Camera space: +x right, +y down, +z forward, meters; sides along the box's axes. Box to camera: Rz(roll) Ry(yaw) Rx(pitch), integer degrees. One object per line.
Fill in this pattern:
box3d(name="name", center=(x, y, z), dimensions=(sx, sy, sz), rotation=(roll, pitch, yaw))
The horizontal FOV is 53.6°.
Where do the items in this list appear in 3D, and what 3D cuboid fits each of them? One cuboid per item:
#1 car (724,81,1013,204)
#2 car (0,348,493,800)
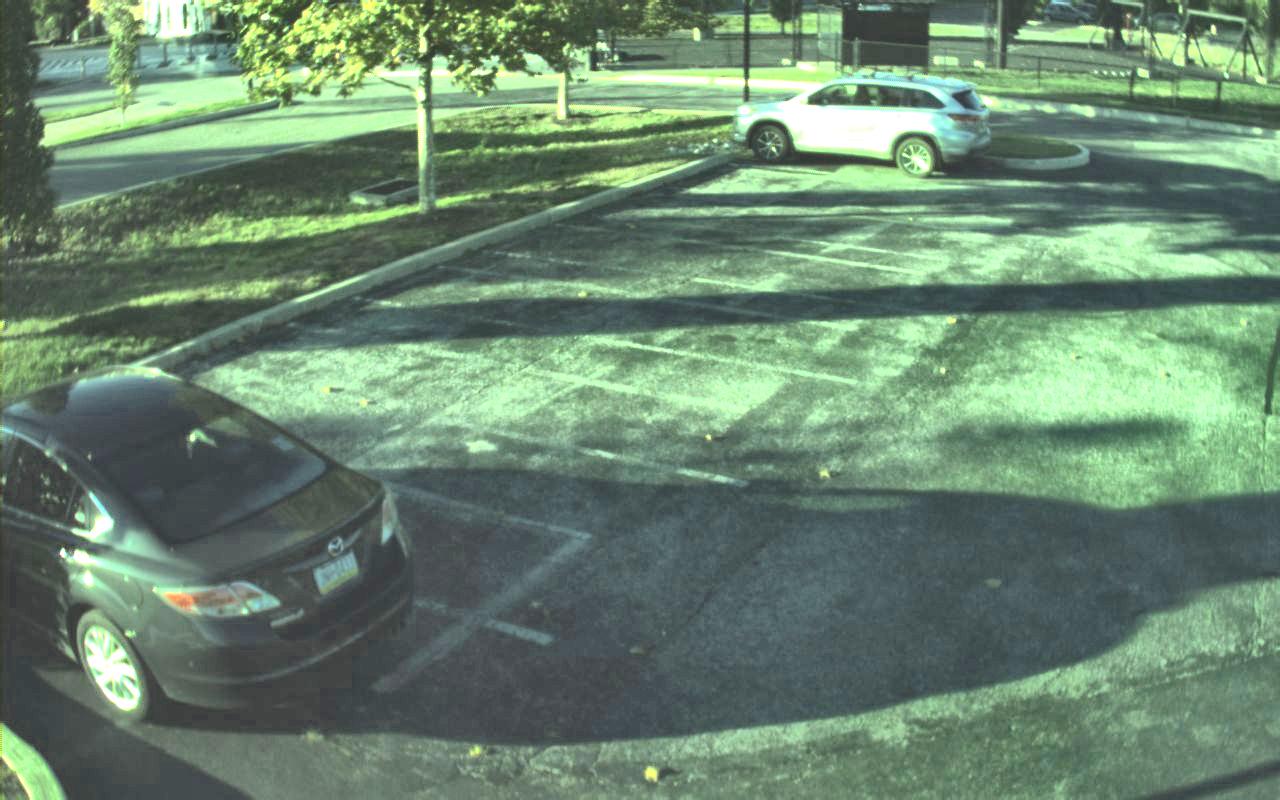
box3d(name="car", center=(4.233, -4.813, 22.628), dimensions=(4.974, 1.950, 2.117), rotation=(7, 17, 28))
box3d(name="car", center=(-3.310, 0.910, 7.012), dimensions=(4.532, 1.603, 1.986), rotation=(8, 17, 29))
